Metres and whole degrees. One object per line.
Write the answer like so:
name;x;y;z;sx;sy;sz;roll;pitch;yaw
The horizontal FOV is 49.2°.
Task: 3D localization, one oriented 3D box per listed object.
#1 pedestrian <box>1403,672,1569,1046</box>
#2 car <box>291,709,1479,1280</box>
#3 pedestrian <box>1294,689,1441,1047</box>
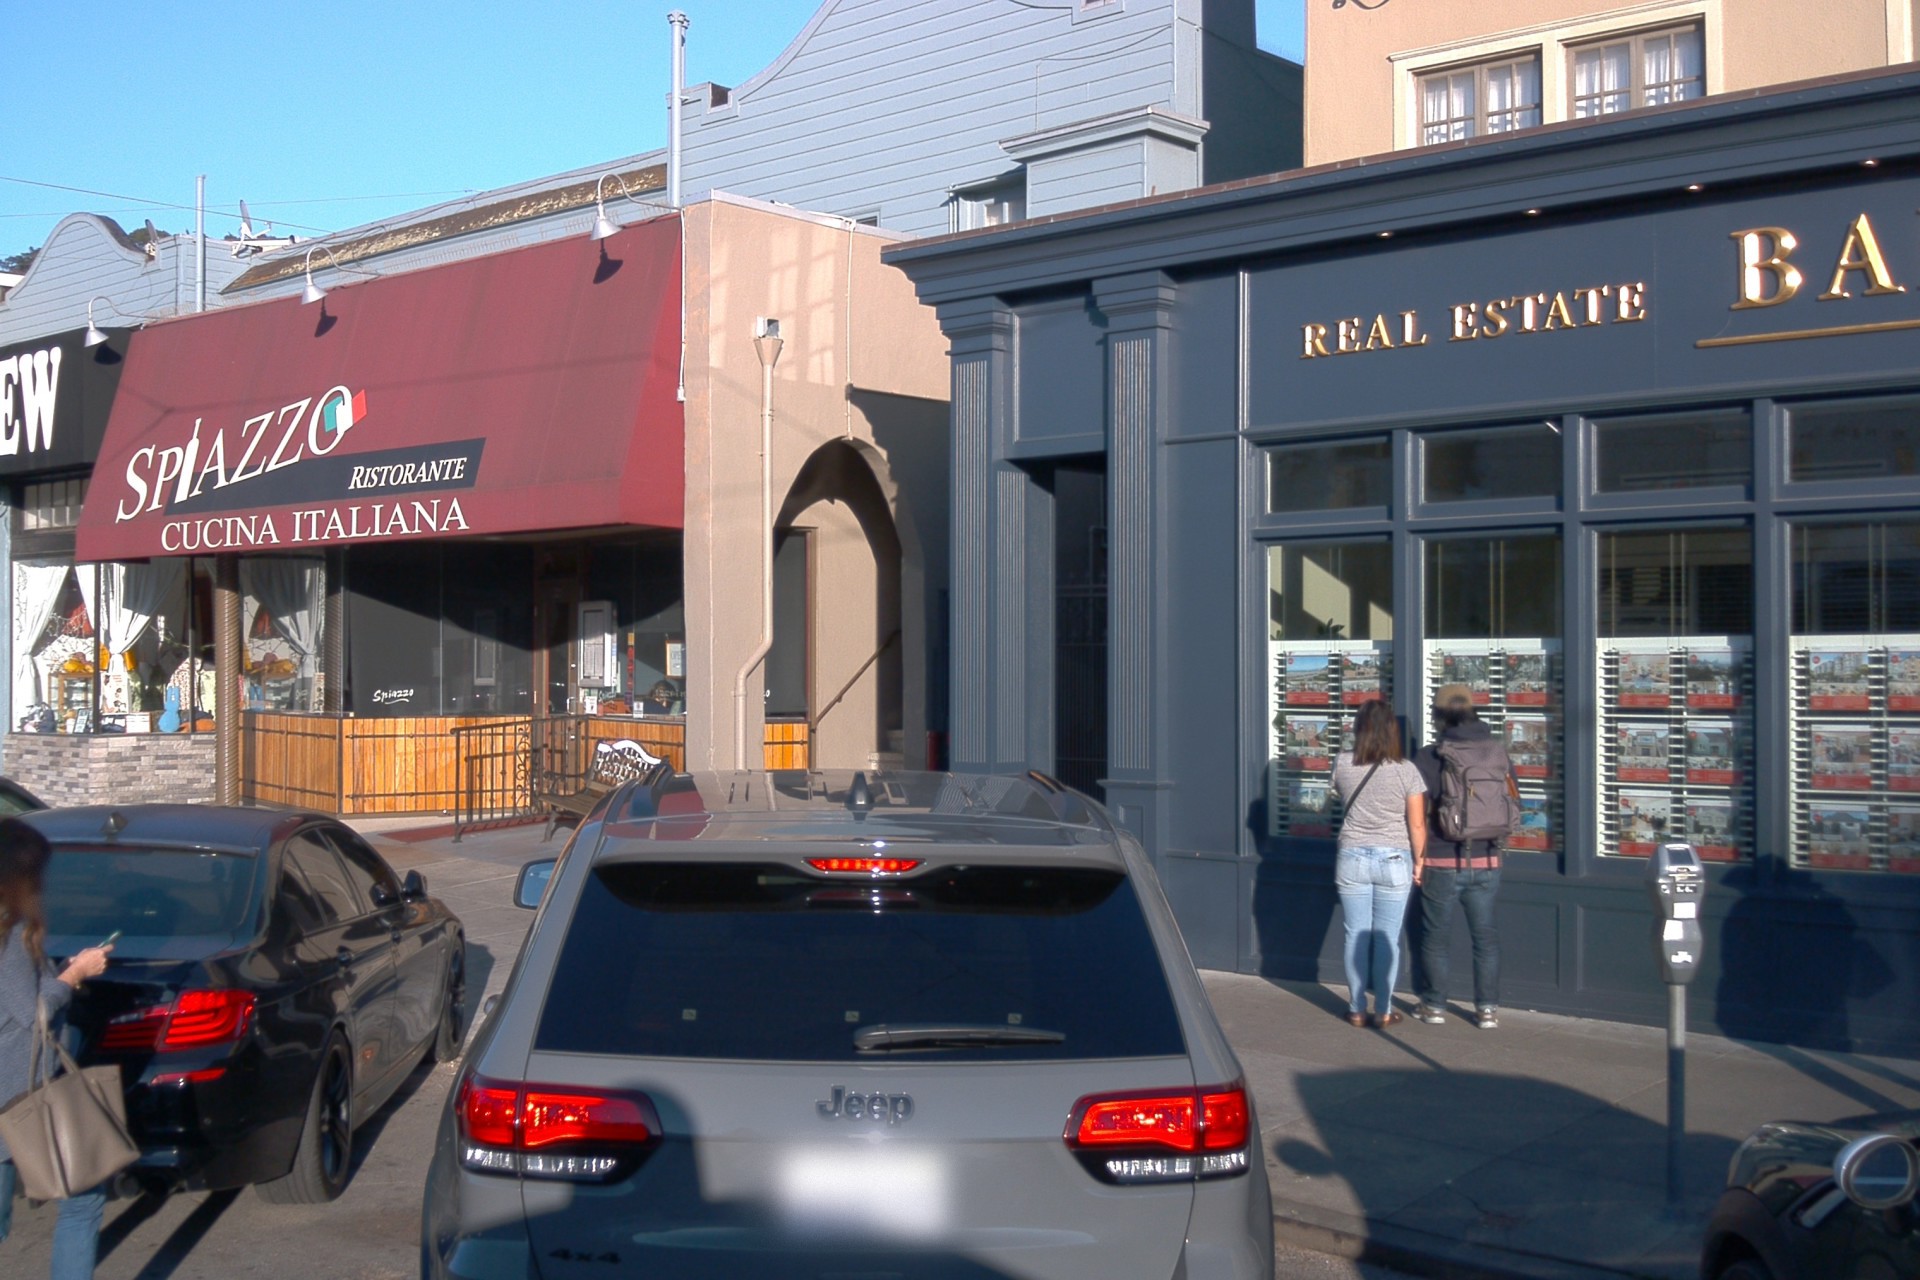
pedestrian;2.639;1.060;10.537;0.762;1.780;0.782;1;0;14
car;-0.307;1.217;6.298;2.214;1.860;4.737;1;0;-4
pedestrian;2.075;1.117;10.620;0.676;1.720;0.715;1;0;14
